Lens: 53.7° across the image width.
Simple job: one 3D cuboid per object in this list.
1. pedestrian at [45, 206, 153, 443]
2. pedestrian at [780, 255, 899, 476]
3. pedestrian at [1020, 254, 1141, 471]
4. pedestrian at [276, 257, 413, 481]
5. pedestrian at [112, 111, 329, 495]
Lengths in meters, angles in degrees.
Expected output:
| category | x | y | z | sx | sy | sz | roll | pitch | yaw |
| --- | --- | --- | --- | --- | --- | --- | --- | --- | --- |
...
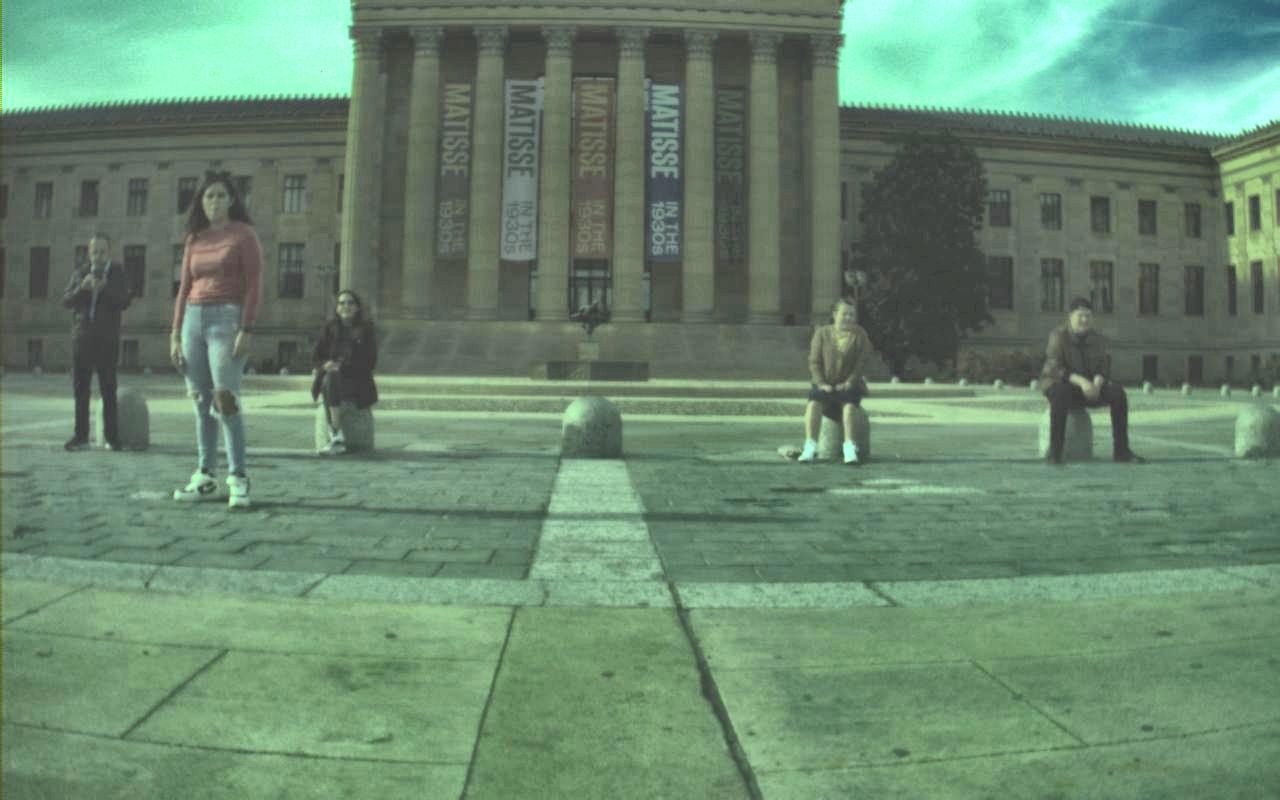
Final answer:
| category | x | y | z | sx | sy | sz | roll | pitch | yaw |
| --- | --- | --- | --- | --- | --- | --- | --- | --- | --- |
| pedestrian | -4.126 | -0.548 | 8.813 | 0.795 | 1.735 | 0.826 | 0 | 0 | -21 |
| pedestrian | 1.490 | -0.253 | 9.460 | 0.803 | 1.598 | 0.827 | 0 | 0 | 2 |
| pedestrian | 3.452 | -0.278 | 9.435 | 0.806 | 1.624 | 0.837 | 0 | 0 | 6 |
| pedestrian | -2.226 | -0.231 | 9.311 | 0.821 | 1.598 | 0.855 | 0 | 0 | 5 |
| pedestrian | -2.028 | -0.442 | 5.765 | 0.761 | 1.706 | 0.785 | 0 | 0 | 13 |
